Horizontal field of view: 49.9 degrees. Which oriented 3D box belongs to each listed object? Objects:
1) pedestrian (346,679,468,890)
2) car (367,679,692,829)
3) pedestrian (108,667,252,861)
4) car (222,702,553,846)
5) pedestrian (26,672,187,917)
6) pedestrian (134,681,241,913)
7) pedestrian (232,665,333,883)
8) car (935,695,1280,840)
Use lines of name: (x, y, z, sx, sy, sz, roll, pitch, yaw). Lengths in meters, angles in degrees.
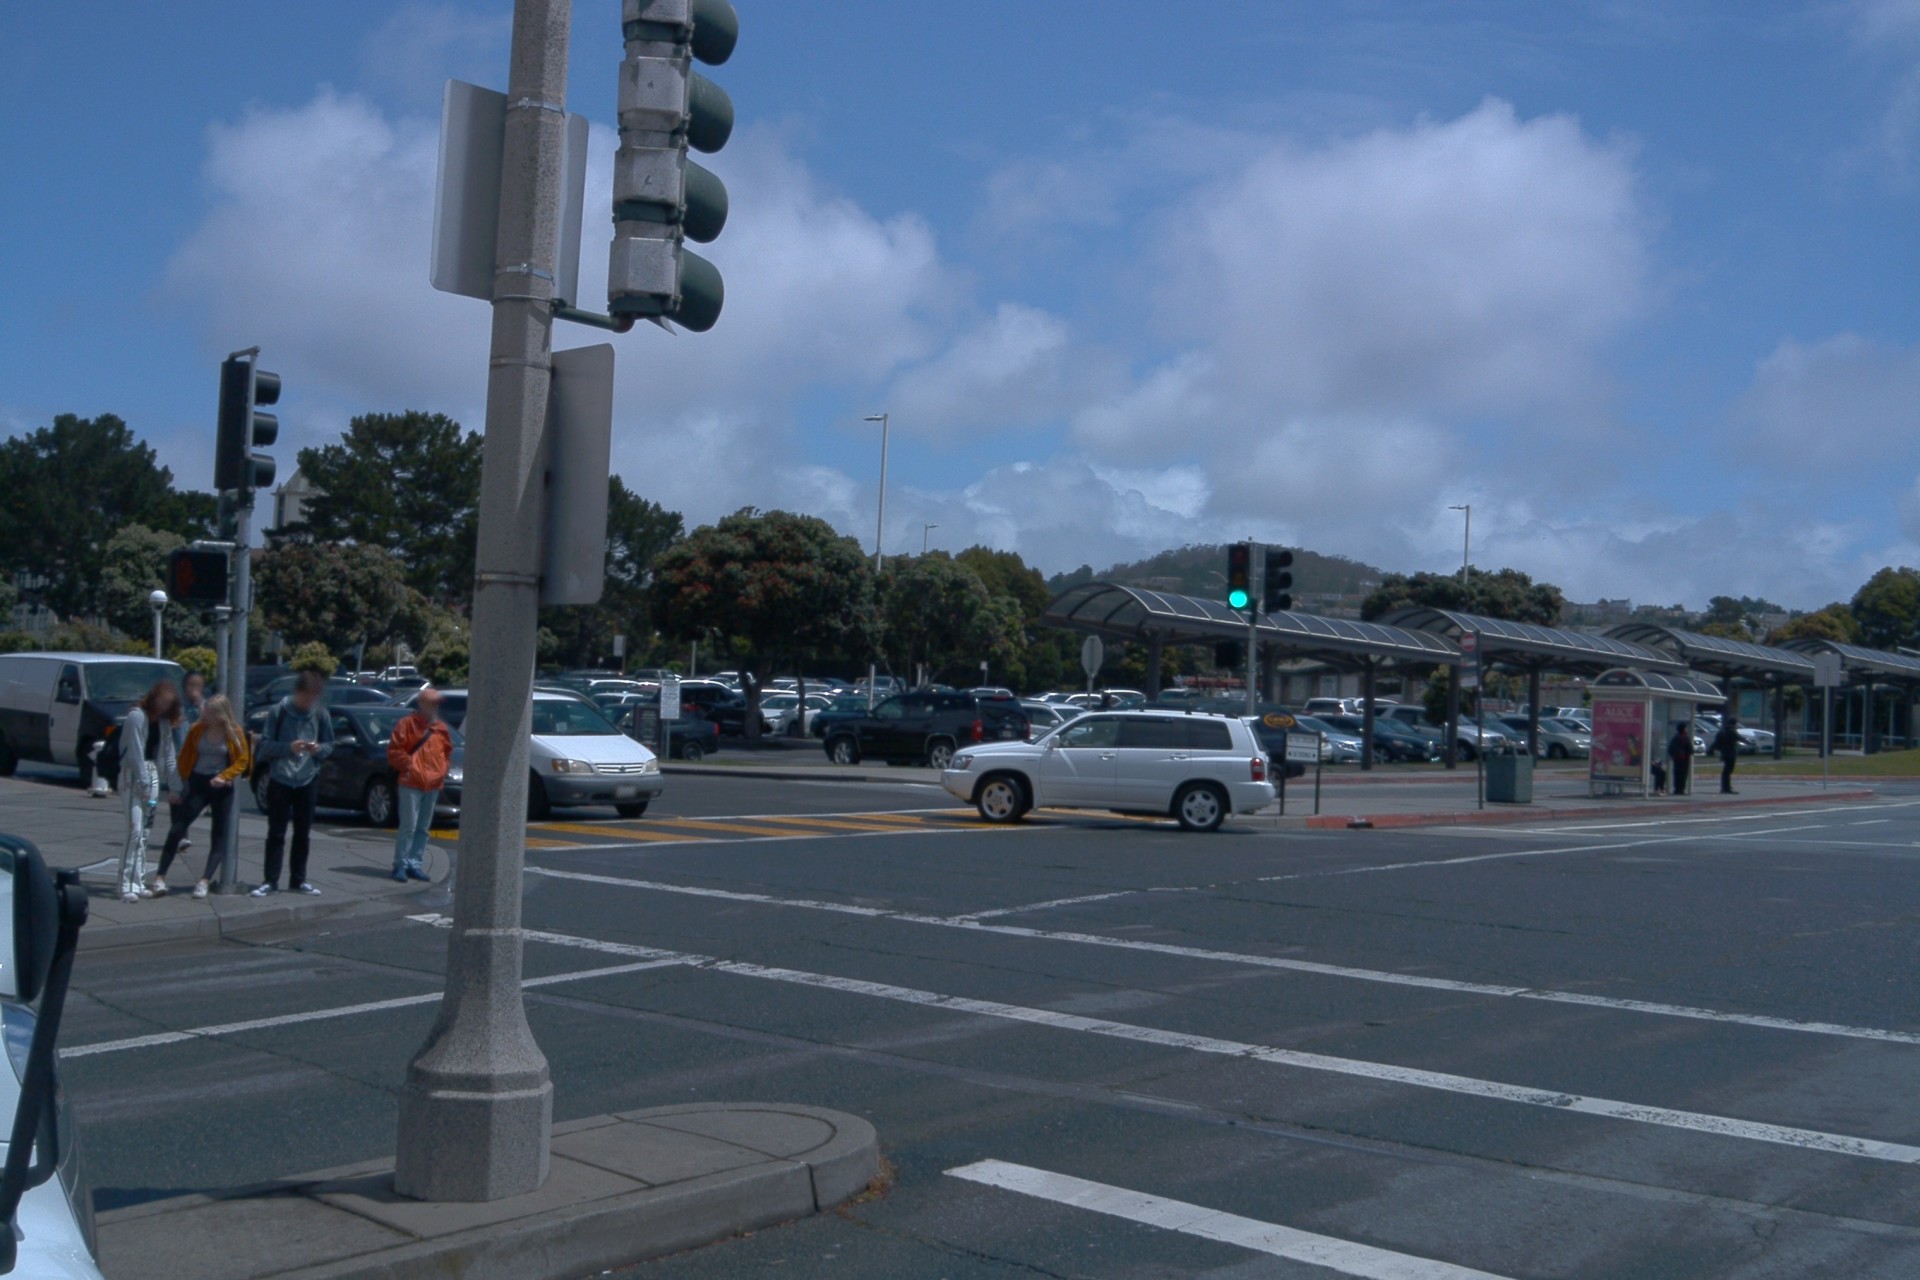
pedestrian: (-4.892, 1.240, 18.218, 0.867, 1.740, 1.248, 0, 1, -23)
car: (-5.993, 1.490, 28.450, 4.587, 1.750, 2.034, 1, 1, 42)
pedestrian: (-7.001, 1.088, 18.525, 0.976, 1.650, 0.834, 1, 1, 41)
car: (-7.210, 1.597, 25.779, 4.356, 1.450, 1.969, 1, 1, 43)
pedestrian: (-6.373, 1.122, 15.426, 0.761, 1.740, 0.792, 0, 1, 26)
pedestrian: (-5.905, 1.180, 15.771, 0.691, 1.700, 0.553, -1, 1, -28)
pedestrian: (-5.318, 1.034, 16.221, 0.713, 1.650, 0.639, 0, 1, -16)
car: (2.087, 1.747, 28.952, 4.655, 1.850, 2.099, 0, 1, 6)
